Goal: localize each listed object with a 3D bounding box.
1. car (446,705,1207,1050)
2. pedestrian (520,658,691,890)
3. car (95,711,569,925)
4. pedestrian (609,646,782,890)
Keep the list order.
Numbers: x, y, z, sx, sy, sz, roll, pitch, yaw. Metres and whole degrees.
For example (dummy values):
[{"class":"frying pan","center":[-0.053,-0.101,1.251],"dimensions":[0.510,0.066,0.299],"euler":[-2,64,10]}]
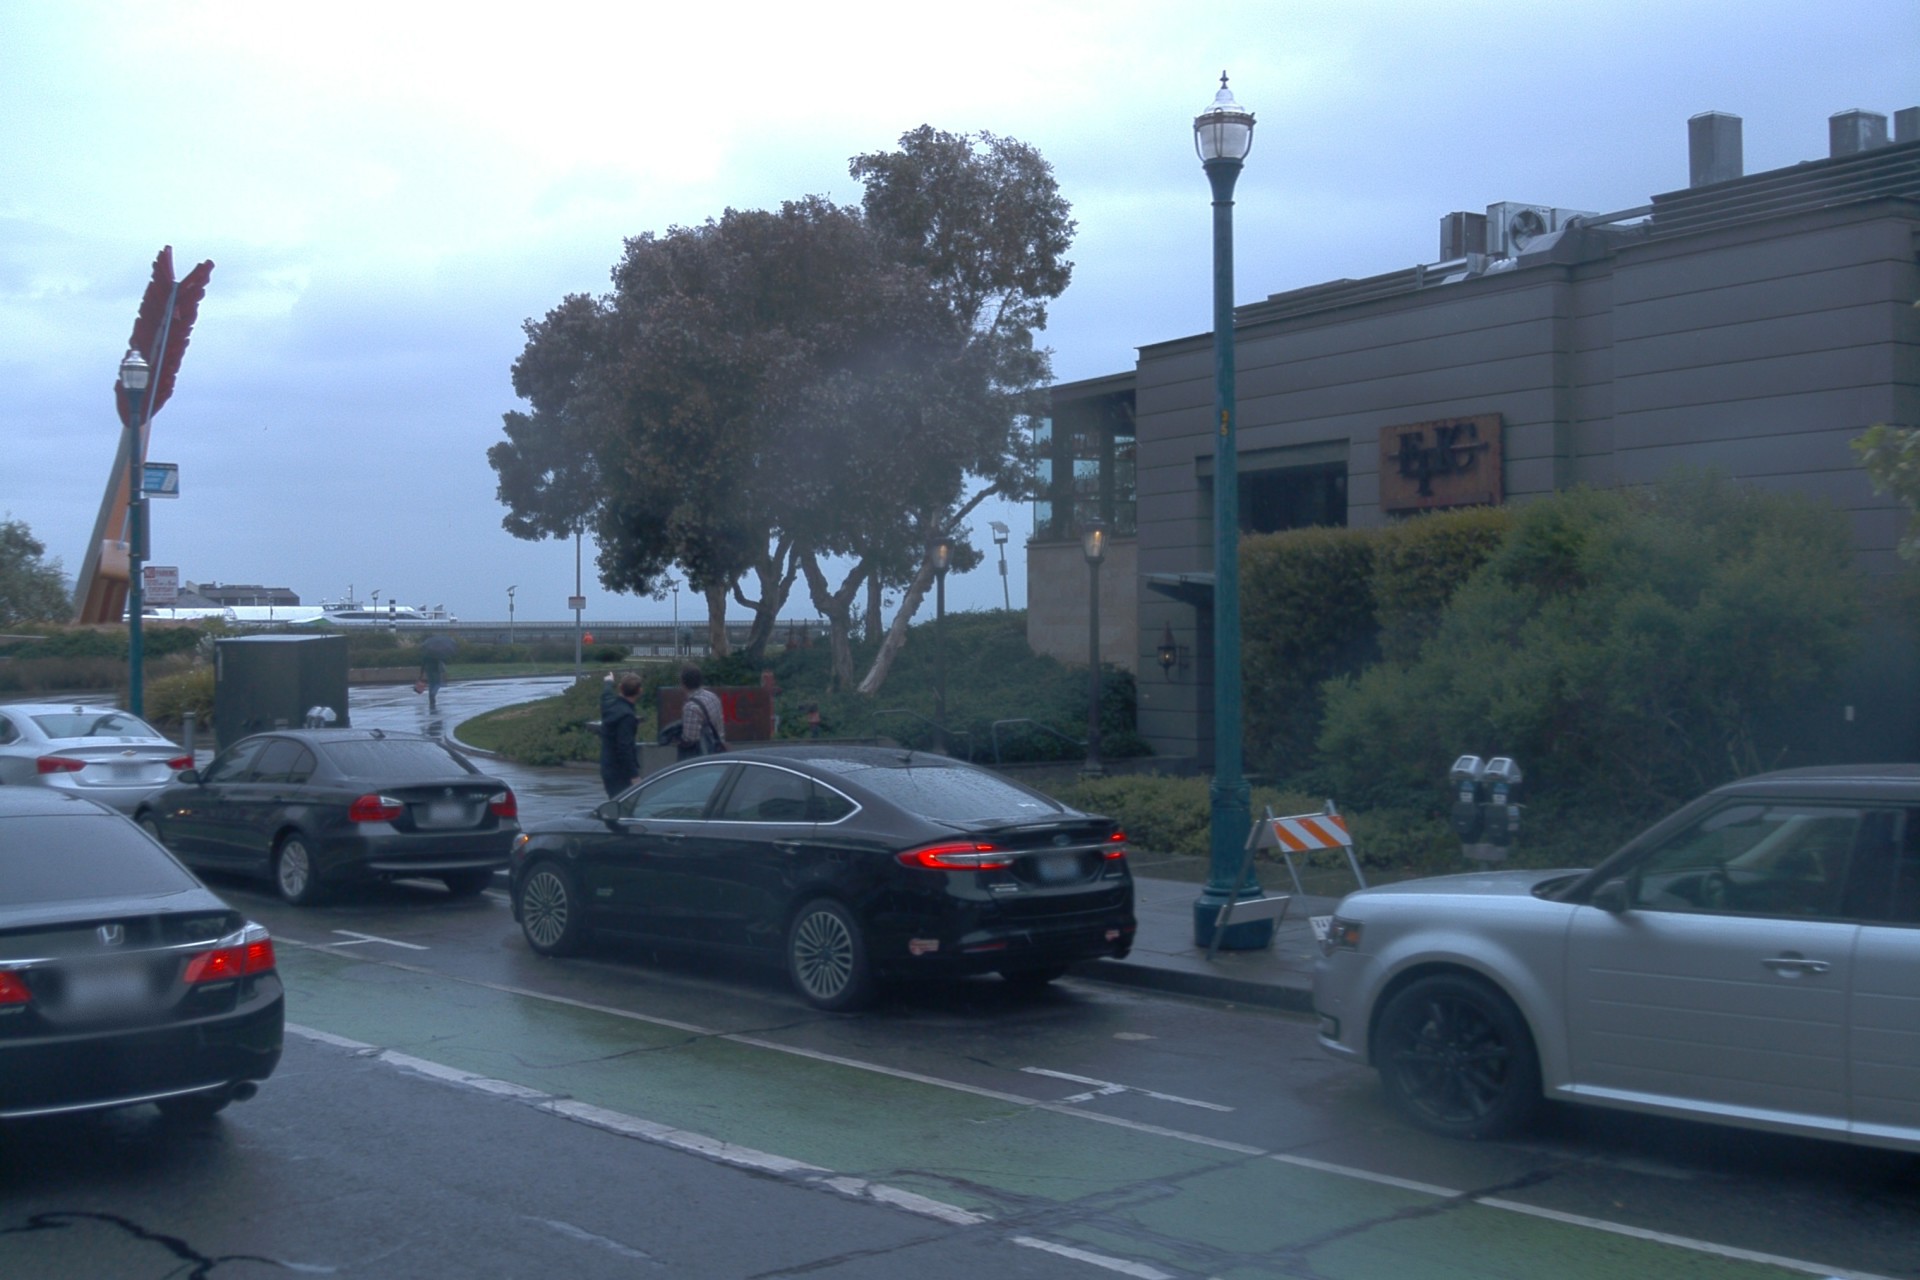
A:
[{"class":"car","center":[-1.036,1.343,13.549],"dimensions":[4.866,1.710,2.313],"euler":[0,-1,45]},{"class":"pedestrian","center":[-3.126,1.133,18.195],"dimensions":[1.047,1.939,1.271],"euler":[1,-1,-33]},{"class":"car","center":[-5.604,1.440,18.151],"dimensions":[4.533,1.500,2.063],"euler":[0,-1,45]},{"class":"pedestrian","center":[-2.331,1.087,18.204],"dimensions":[1.154,2.050,1.064],"euler":[1,-1,-31]}]
